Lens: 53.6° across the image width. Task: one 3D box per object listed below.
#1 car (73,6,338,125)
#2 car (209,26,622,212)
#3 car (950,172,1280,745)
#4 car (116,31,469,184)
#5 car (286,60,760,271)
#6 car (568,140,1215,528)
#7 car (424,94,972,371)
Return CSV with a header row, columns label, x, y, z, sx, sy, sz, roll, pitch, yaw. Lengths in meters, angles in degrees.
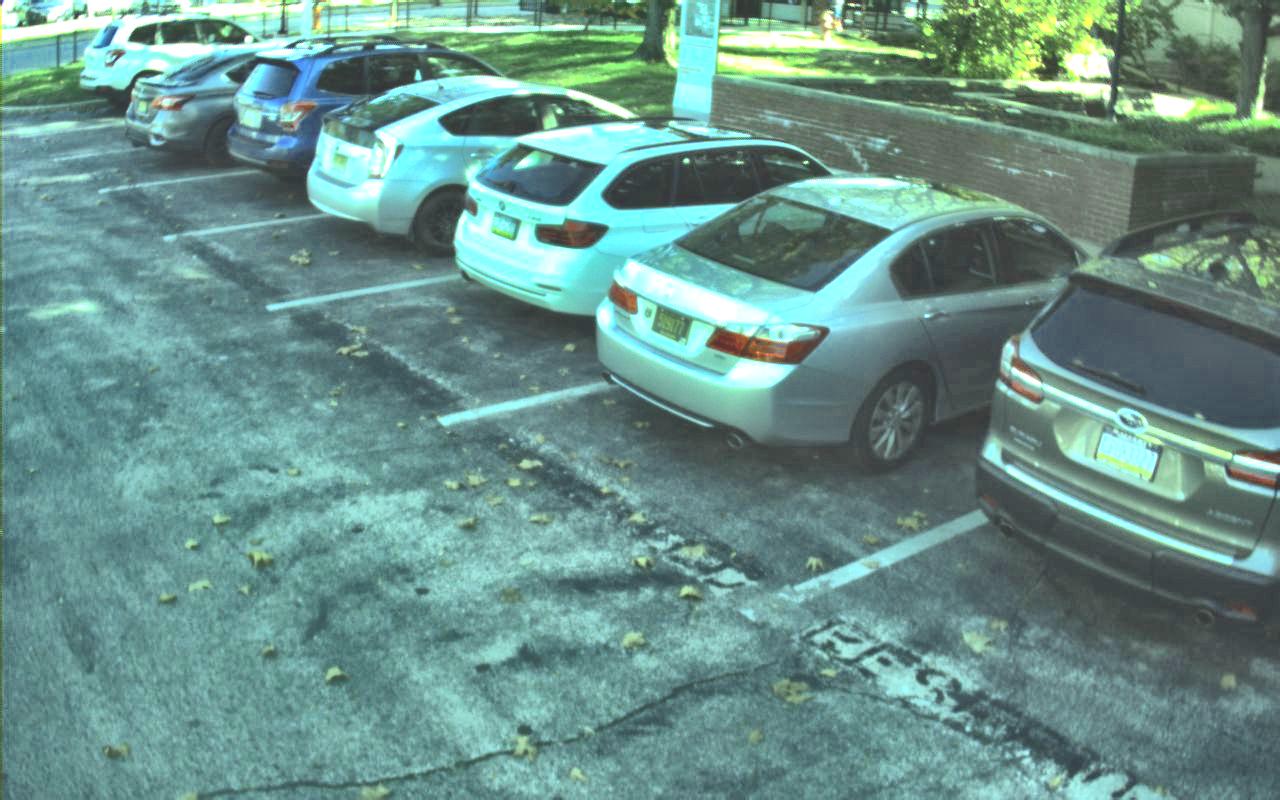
label,x,y,z,sx,sy,sz,roll,pitch,yaw
car,-7.780,-5.935,20.645,4.551,1.663,1.956,-15,21,-39
car,-2.571,-3.365,14.139,4.499,1.707,1.964,-15,21,-38
car,3.906,-0.127,6.234,4.732,1.792,2.024,-14,21,-38
car,-4.667,-3.960,15.923,4.462,1.552,1.932,-14,21,-37
car,-1.083,-2.459,12.186,4.380,1.569,1.905,-13,20,-35
car,1.943,-0.745,8.077,4.483,1.544,1.921,-14,21,-36
car,0.655,-1.589,10.226,4.384,1.575,1.917,-14,21,-38
